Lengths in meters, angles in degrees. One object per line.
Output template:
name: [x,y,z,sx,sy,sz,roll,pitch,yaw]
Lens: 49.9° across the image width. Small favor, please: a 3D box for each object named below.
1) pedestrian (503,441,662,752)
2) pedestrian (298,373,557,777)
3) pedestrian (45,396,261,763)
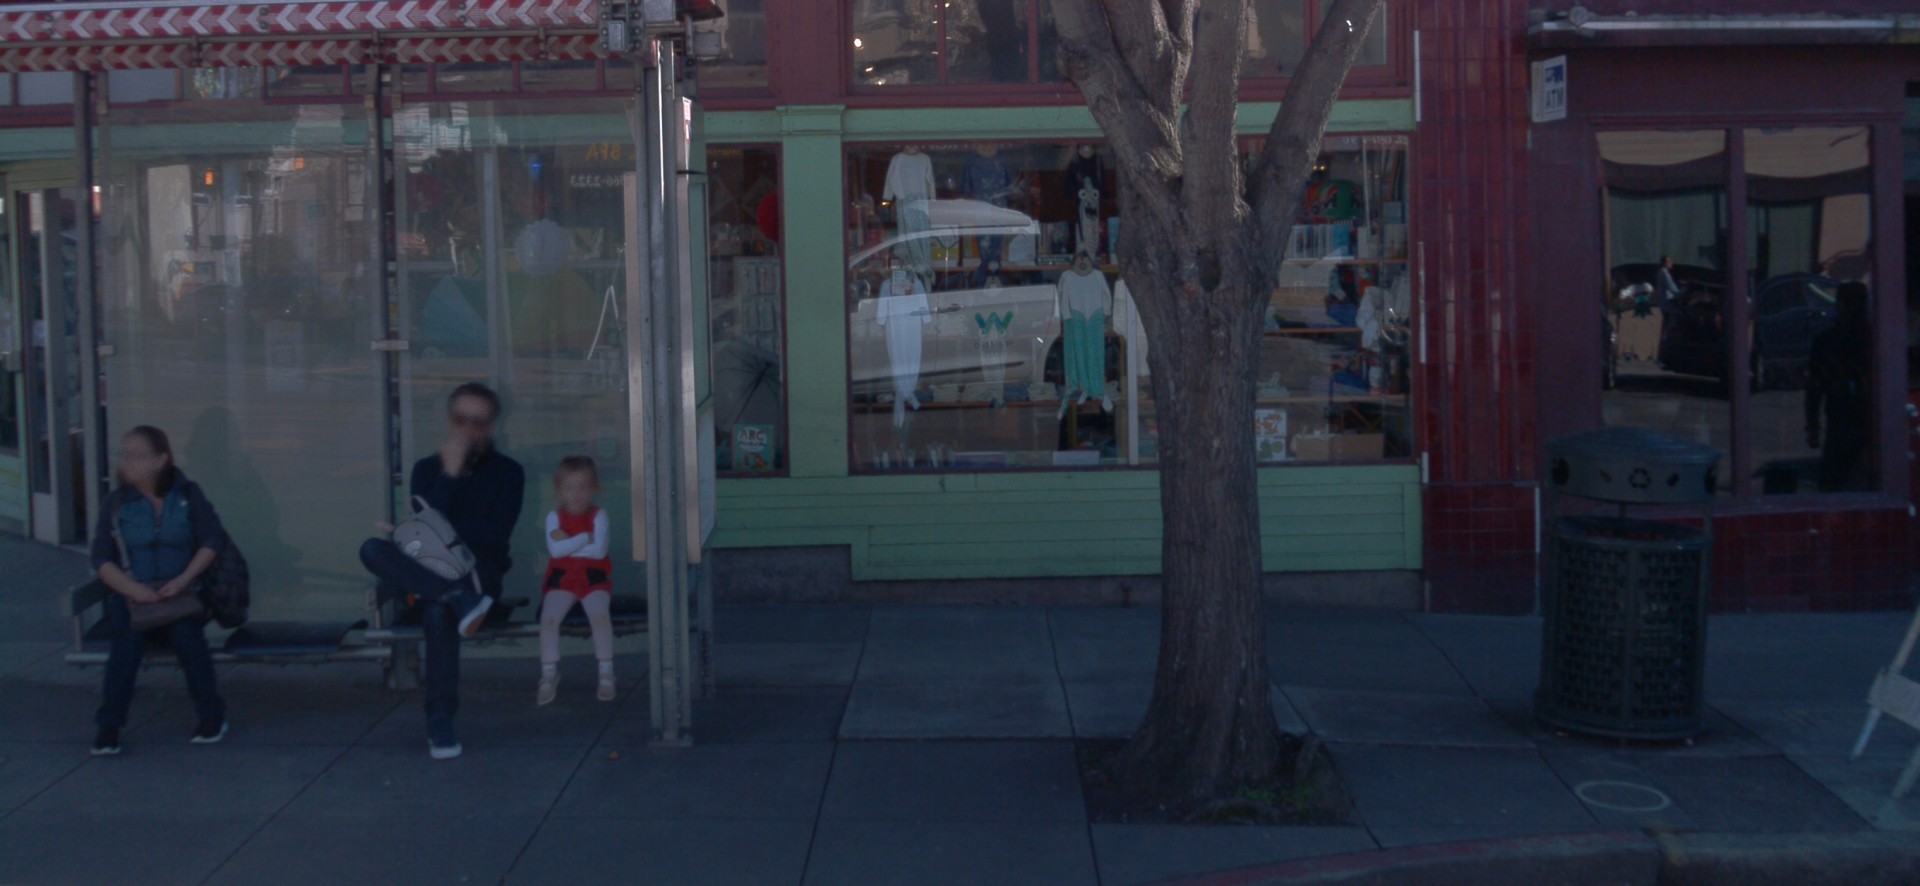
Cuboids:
pedestrian: [-1.460,0.576,8.049,0.528,1.098,0.572,0,2,-3]
pedestrian: [-2.033,0.467,7.999,0.753,1.398,0.926,0,2,0]
pedestrian: [-3.127,0.489,8.059,0.737,1.258,0.794,-1,2,-19]
